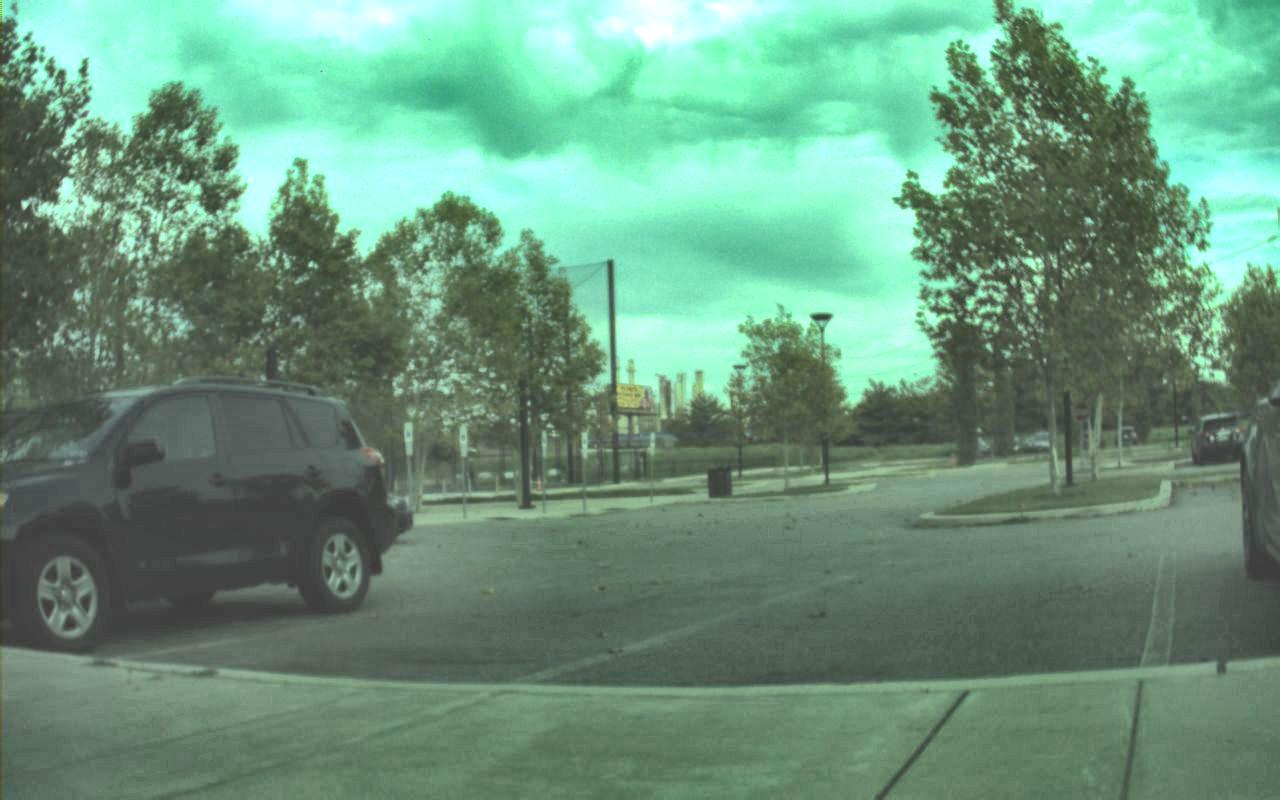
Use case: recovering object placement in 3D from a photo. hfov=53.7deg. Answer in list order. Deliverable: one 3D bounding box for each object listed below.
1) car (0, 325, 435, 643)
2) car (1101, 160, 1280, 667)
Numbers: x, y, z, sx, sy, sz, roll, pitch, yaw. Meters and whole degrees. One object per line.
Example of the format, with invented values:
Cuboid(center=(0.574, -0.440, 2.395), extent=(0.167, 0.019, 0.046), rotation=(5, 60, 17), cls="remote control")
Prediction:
Cuboid(center=(-3.355, 0.389, 7.931), extent=(1.957, 1.618, 4.465), rotation=(1, 1, 23), cls="car")
Cuboid(center=(3.637, 0.004, 5.591), extent=(1.966, 1.636, 4.497), rotation=(1, 1, 31), cls="car")
